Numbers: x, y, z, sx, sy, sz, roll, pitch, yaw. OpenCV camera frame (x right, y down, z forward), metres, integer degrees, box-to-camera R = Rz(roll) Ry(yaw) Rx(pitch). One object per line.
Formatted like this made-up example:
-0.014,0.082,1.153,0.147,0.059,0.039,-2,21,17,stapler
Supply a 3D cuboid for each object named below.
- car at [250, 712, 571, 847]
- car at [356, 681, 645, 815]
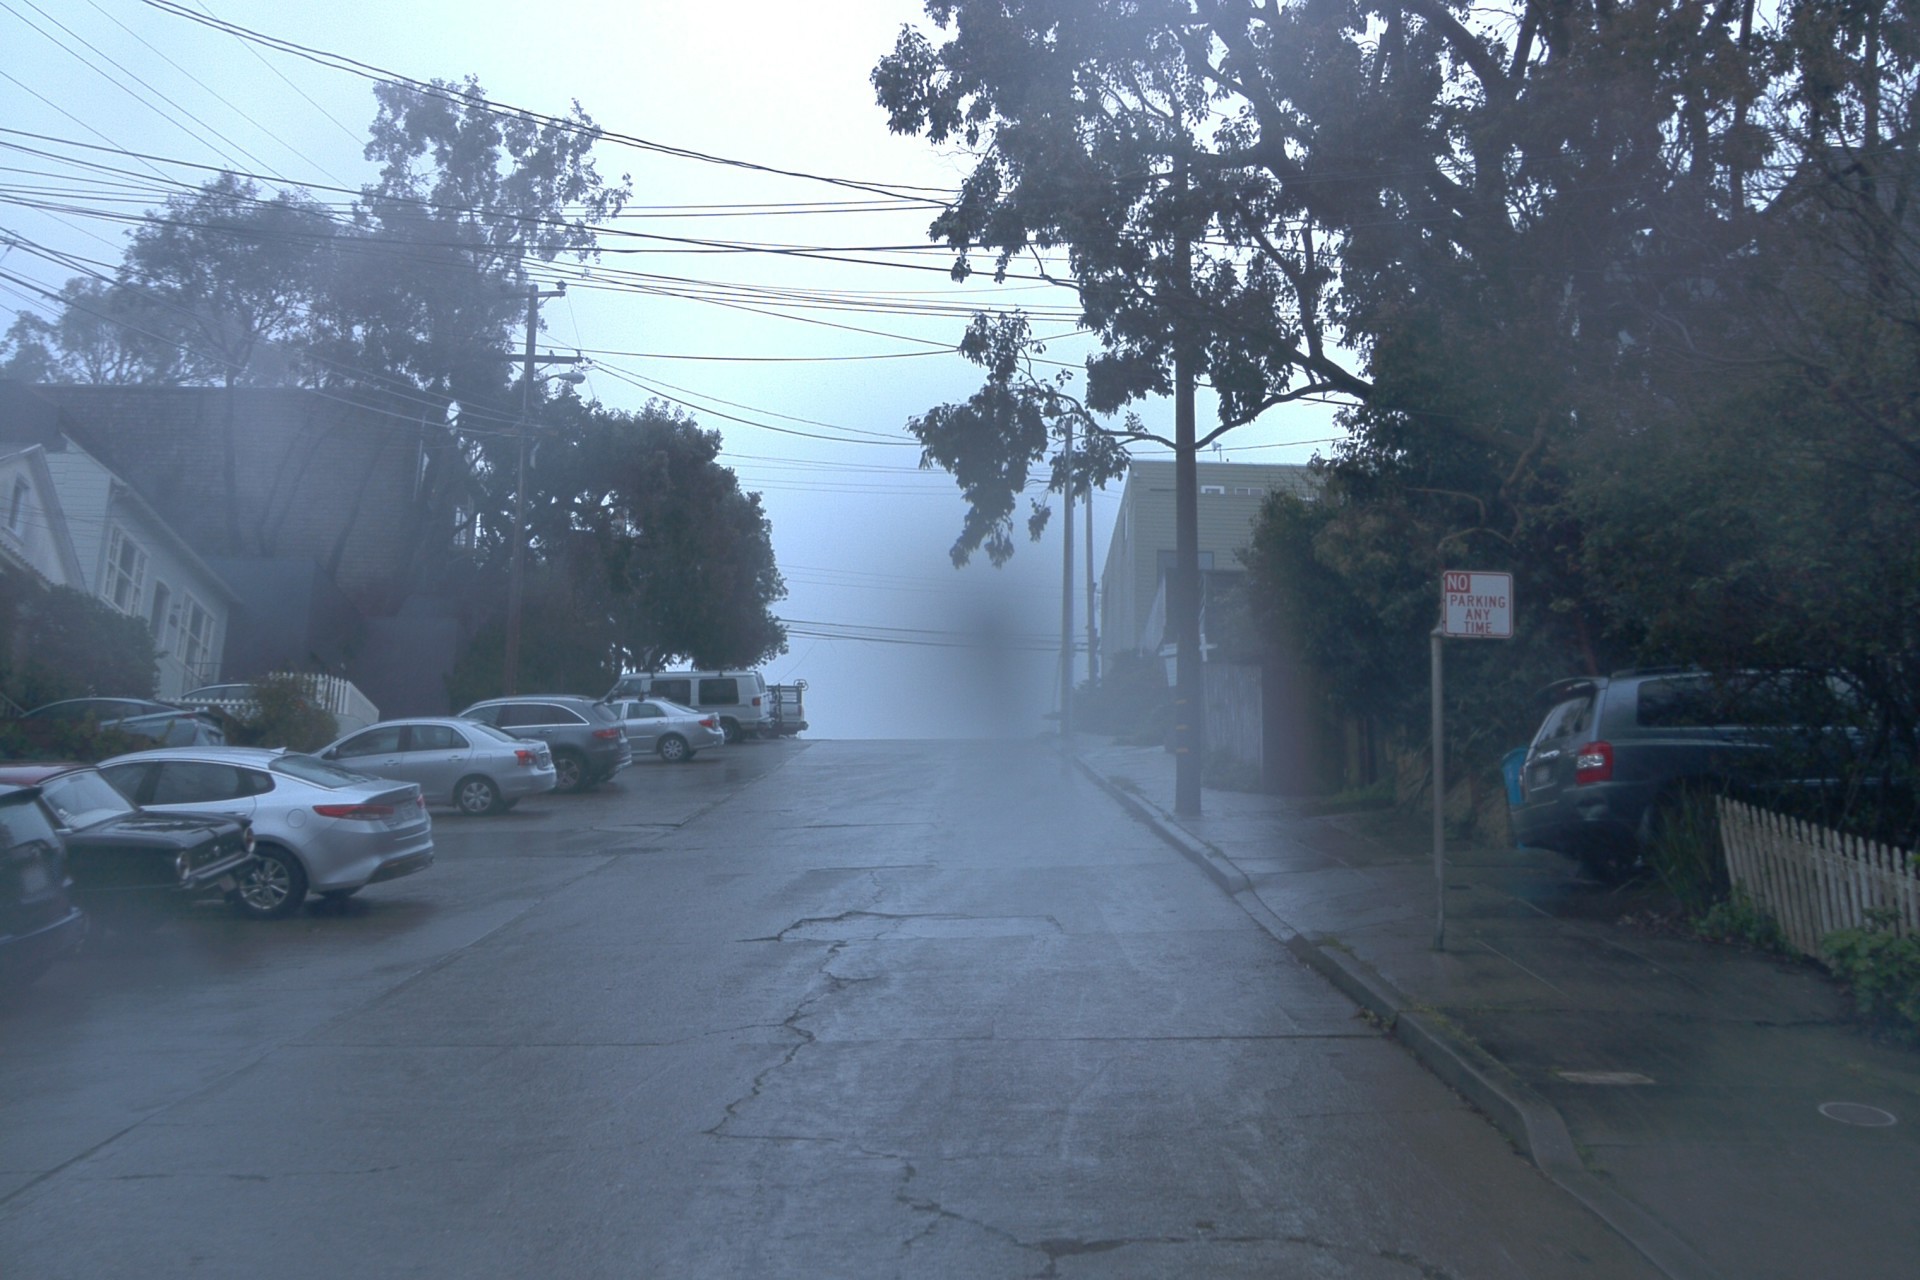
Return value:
-7.970,2.007,30.322,4.171,1.850,2.003,0,0,1,car
-7.883,1.833,35.839,4.489,2.200,2.185,0,0,2,car
